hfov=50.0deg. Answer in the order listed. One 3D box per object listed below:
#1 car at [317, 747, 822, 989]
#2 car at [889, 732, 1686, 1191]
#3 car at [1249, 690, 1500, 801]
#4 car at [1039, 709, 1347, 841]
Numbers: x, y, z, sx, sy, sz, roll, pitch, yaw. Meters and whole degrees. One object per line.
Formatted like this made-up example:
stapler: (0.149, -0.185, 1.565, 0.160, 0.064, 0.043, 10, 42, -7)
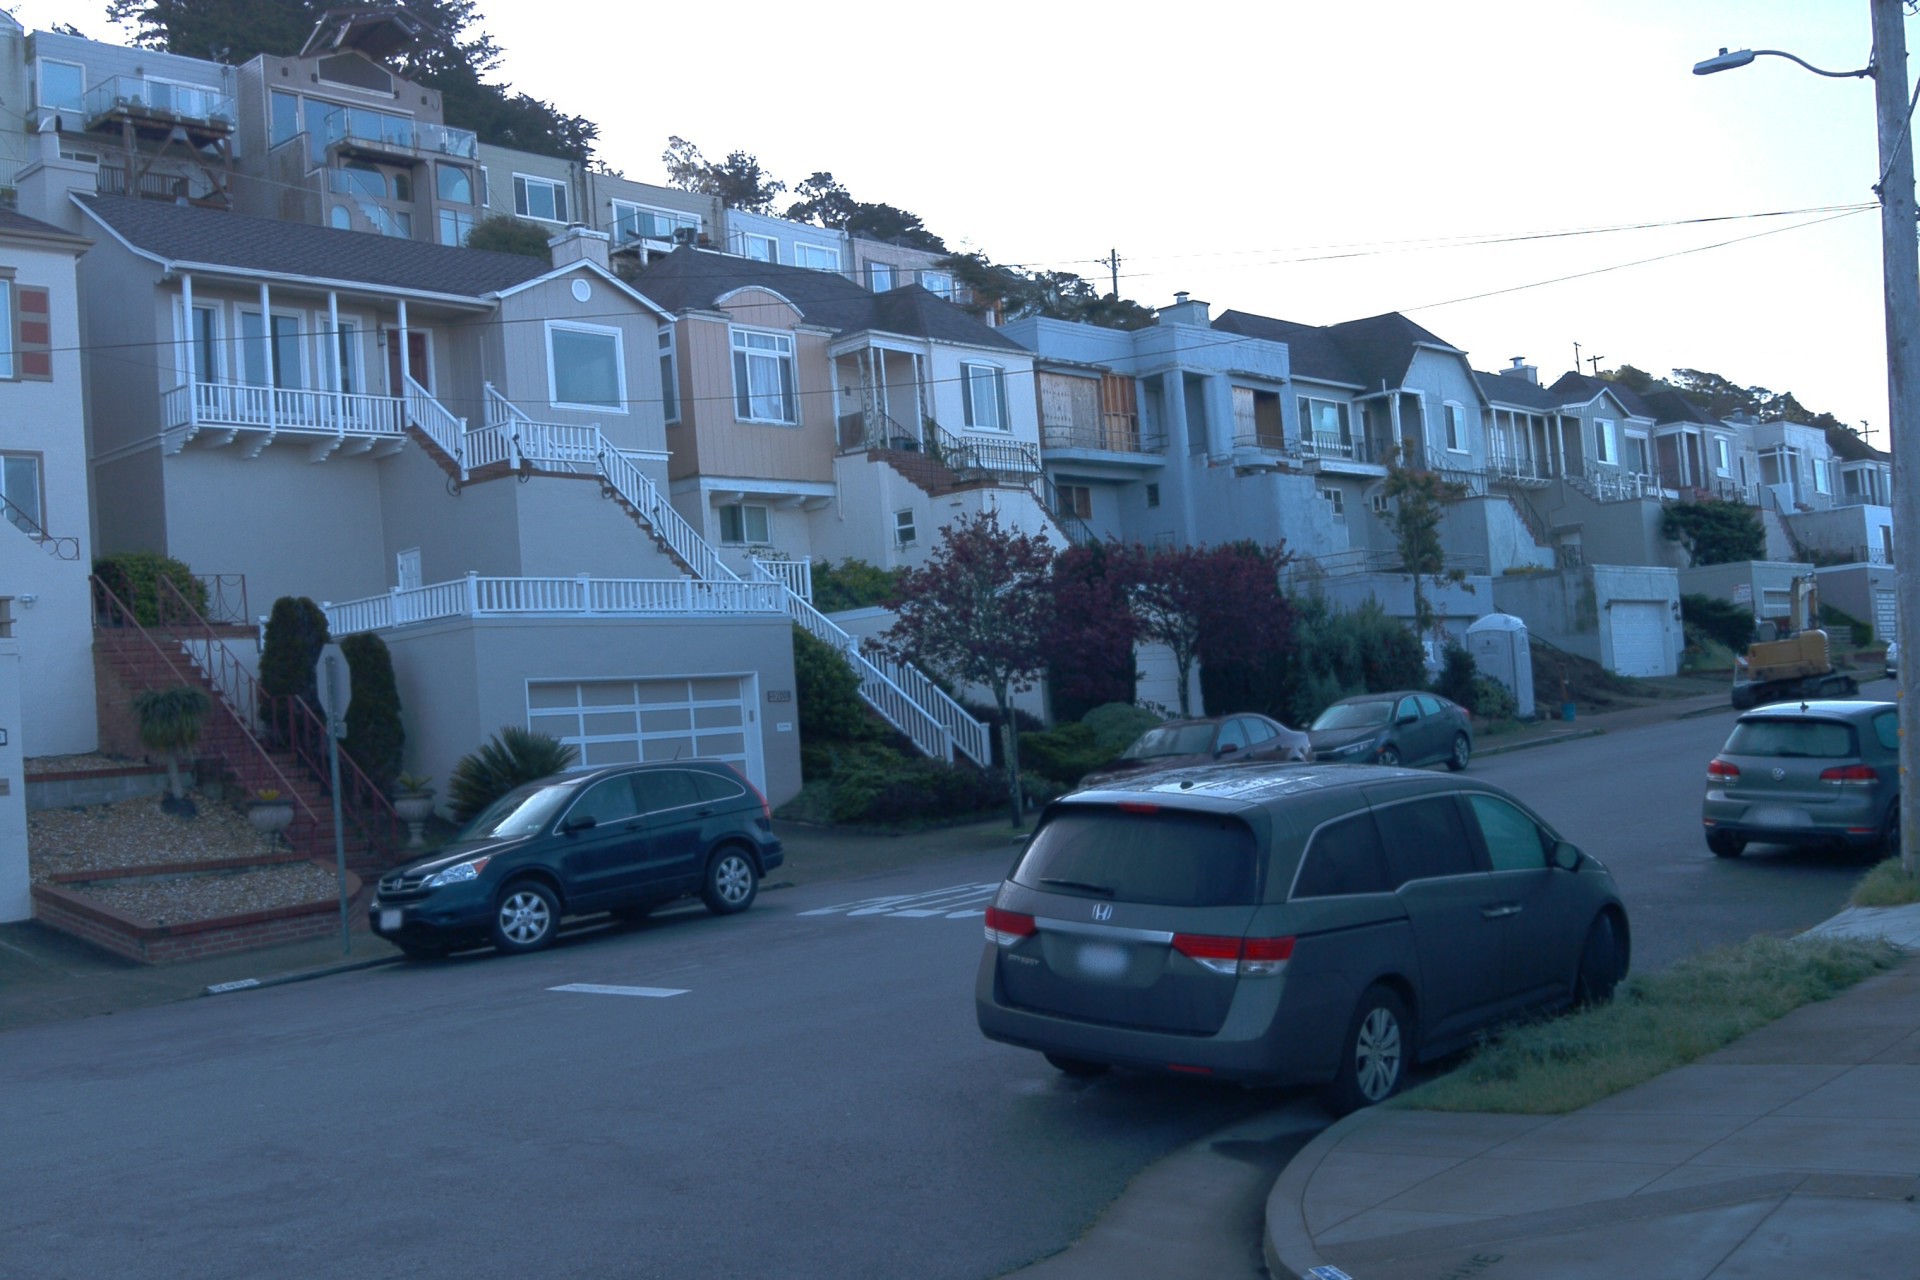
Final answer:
car: (-3.836, 2.166, 20.905, 2.207, 1.910, 4.680, 0, 0, 41)
car: (2.182, 1.591, 12.174, 2.390, 1.860, 5.189, 0, 0, 39)
car: (6.827, 1.653, 33.537, 2.163, 1.560, 4.754, 0, 0, 37)
car: (3.405, 1.838, 29.283, 2.151, 1.560, 4.797, 0, 0, 38)
